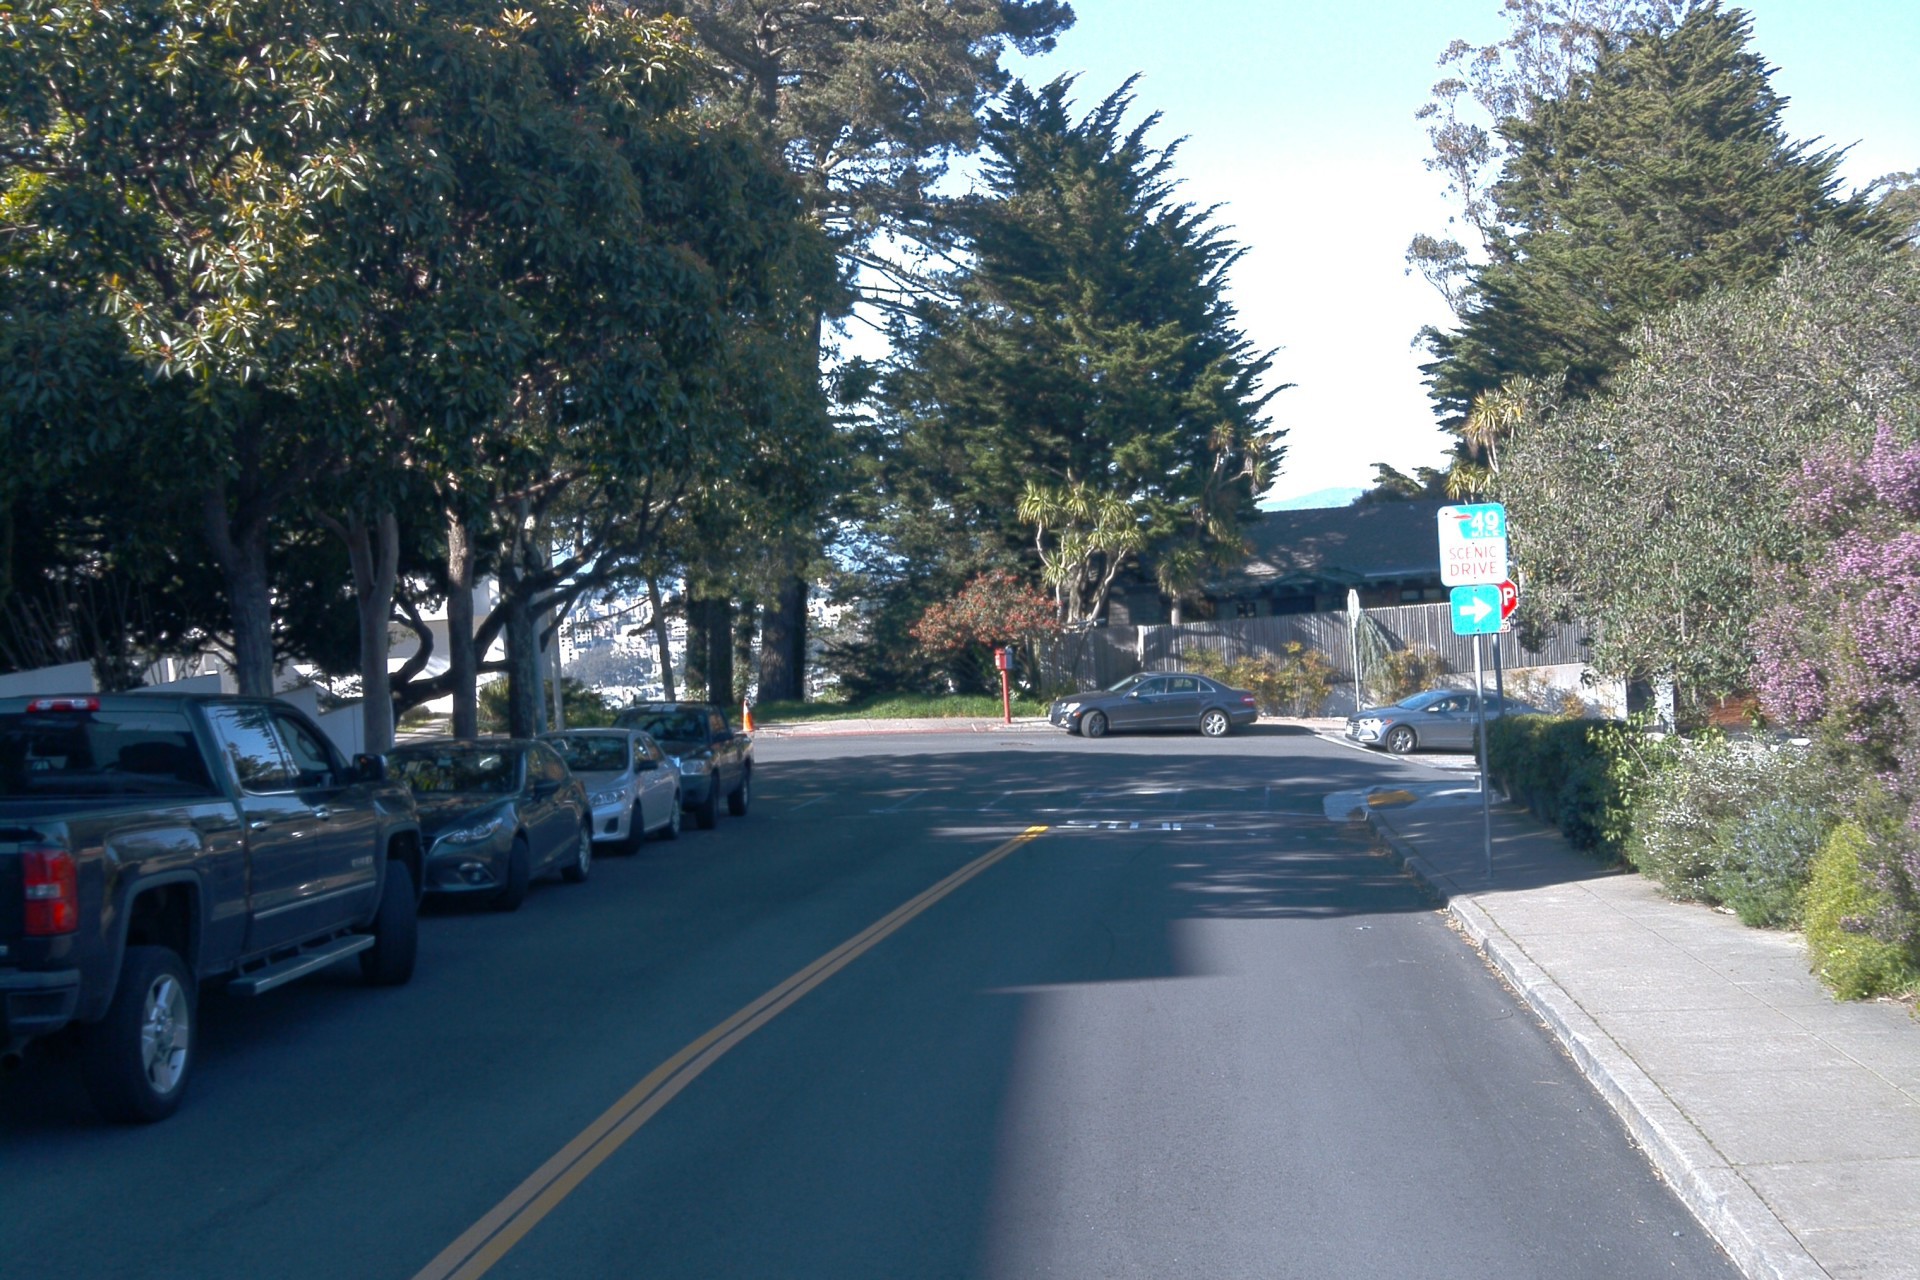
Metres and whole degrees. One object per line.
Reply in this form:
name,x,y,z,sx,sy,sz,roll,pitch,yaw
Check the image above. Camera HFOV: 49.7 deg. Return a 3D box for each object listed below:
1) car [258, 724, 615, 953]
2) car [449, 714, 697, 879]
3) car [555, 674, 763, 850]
car,-4.583,1.688,18.875,2.082,1.680,4.439,0,0,1
car,-4.555,1.804,25.083,2.042,1.670,4.529,0,0,2
car,-4.282,1.668,30.447,2.123,2.280,5.583,0,0,1
